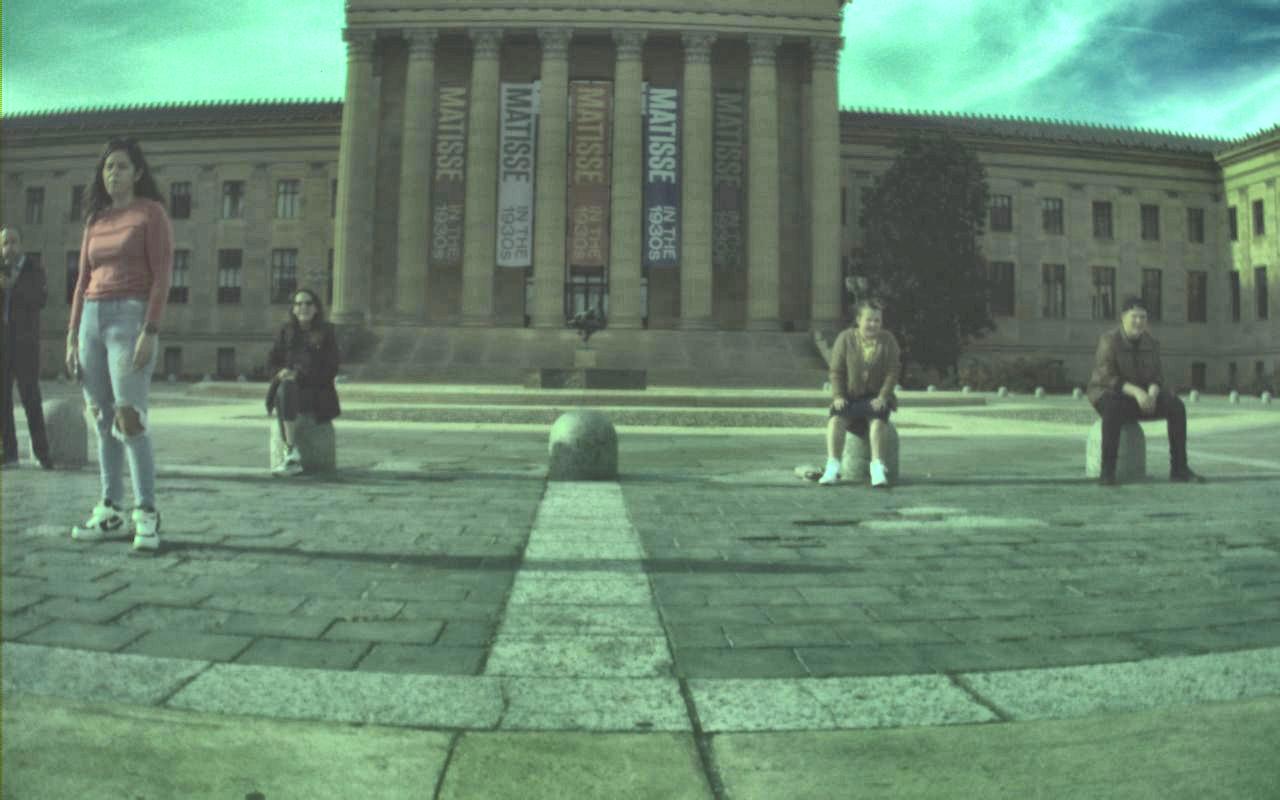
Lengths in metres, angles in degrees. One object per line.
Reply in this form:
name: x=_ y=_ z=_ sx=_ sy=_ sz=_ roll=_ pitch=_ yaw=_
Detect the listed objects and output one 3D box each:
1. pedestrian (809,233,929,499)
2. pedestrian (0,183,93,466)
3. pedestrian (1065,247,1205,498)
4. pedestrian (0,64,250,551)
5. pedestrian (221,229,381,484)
pedestrian: x=1.489 y=-0.219 z=8.192 sx=0.724 sy=1.668 sz=0.741 roll=0 pitch=0 yaw=5
pedestrian: x=-4.176 y=-0.477 z=7.561 sx=0.789 sy=1.814 sz=0.771 roll=0 pitch=0 yaw=-8
pedestrian: x=3.462 y=-0.176 z=8.262 sx=0.724 sy=1.662 sz=0.762 roll=0 pitch=0 yaw=-12
pedestrian: x=-2.040 y=-0.341 z=4.558 sx=0.764 sy=1.743 sz=0.776 roll=0 pitch=0 yaw=5
pedestrian: x=-2.258 y=-0.279 z=8.126 sx=0.773 sy=1.592 sz=0.797 roll=1 pitch=0 yaw=17
